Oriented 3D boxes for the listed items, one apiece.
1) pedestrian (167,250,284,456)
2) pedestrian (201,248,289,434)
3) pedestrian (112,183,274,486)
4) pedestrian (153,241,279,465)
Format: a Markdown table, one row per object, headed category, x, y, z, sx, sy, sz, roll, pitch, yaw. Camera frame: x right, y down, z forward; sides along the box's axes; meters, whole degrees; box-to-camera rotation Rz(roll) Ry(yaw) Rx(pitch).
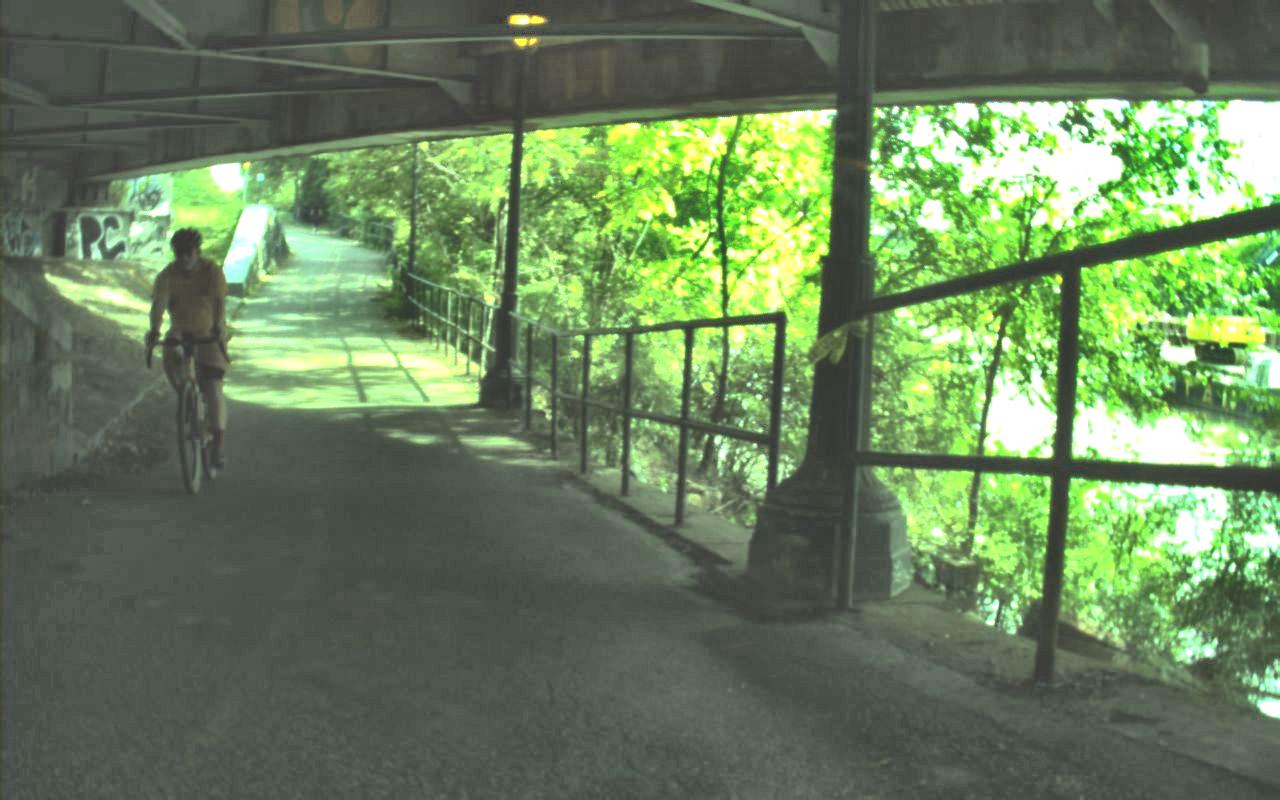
| category | x | y | z | sx | sy | sz | roll | pitch | yaw |
| --- | --- | --- | --- | --- | --- | --- | --- | --- | --- |
| pedestrian | -3.579 | -0.385 | 10.322 | 0.725 | 1.684 | 0.744 | 1 | 0 | 27 |
| pedestrian | -3.722 | -0.531 | 11.315 | 0.678 | 1.680 | 0.692 | 0 | 0 | -34 |
| pedestrian | -2.834 | -0.395 | 7.546 | 0.790 | 1.799 | 0.871 | 0 | 0 | 2 |
| pedestrian | -3.313 | -0.353 | 9.352 | 0.749 | 1.664 | 0.782 | 0 | 0 | 6 |
